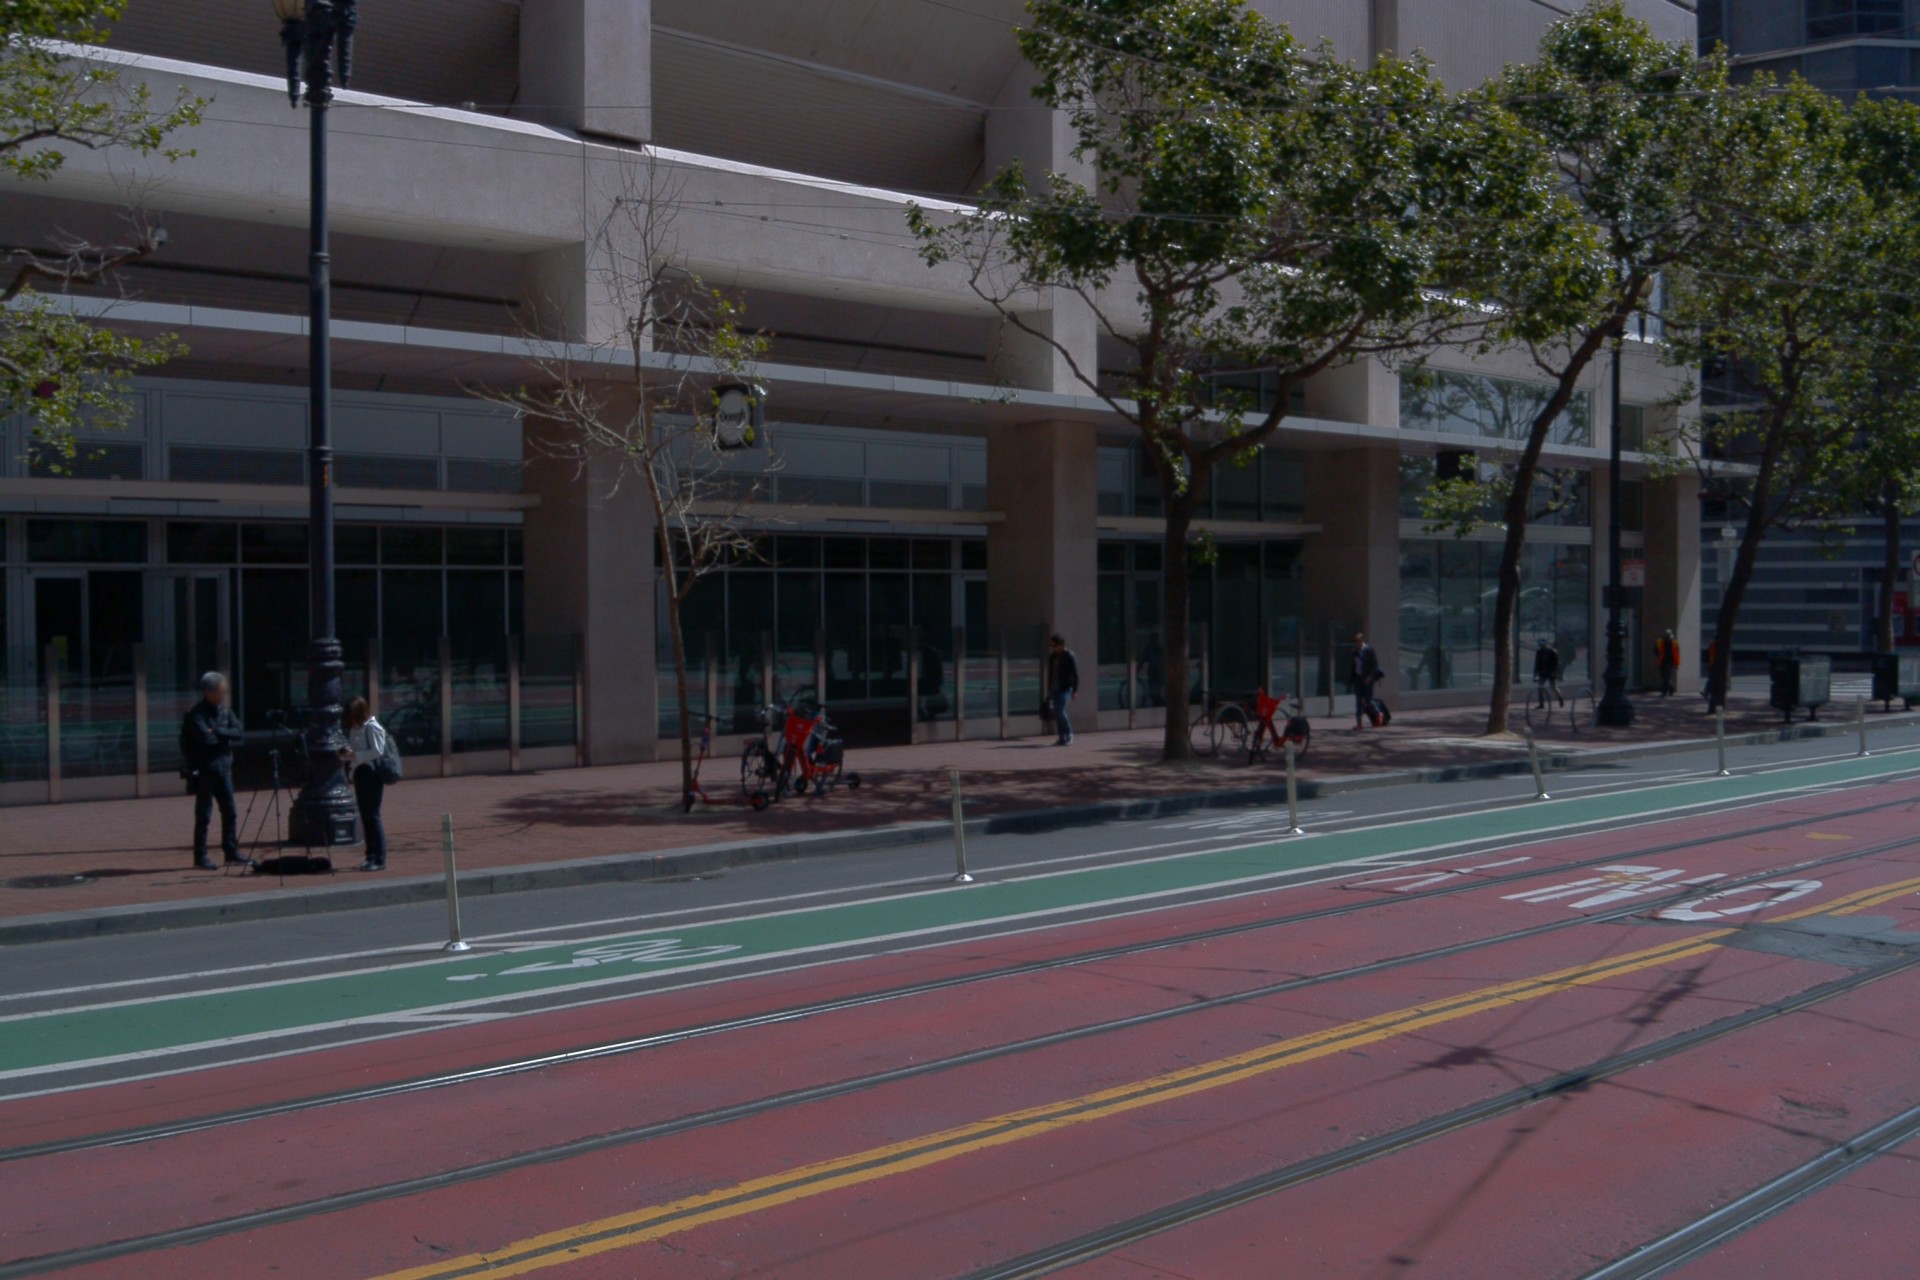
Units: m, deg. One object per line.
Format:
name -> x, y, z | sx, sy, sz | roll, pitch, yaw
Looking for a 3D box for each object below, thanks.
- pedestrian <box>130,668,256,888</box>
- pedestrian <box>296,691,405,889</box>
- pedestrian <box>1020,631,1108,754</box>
pedestrian -> -6.869, 1.206, 18.493 | 0.804, 1.880, 0.761 | 1, 1, 42
pedestrian -> -5.507, 1.331, 18.632 | 0.817, 1.710, 0.671 | -1, 1, -28
pedestrian -> 1.690, 0.833, 33.603 | 0.850, 1.950, 1.198 | 1, 1, 44
